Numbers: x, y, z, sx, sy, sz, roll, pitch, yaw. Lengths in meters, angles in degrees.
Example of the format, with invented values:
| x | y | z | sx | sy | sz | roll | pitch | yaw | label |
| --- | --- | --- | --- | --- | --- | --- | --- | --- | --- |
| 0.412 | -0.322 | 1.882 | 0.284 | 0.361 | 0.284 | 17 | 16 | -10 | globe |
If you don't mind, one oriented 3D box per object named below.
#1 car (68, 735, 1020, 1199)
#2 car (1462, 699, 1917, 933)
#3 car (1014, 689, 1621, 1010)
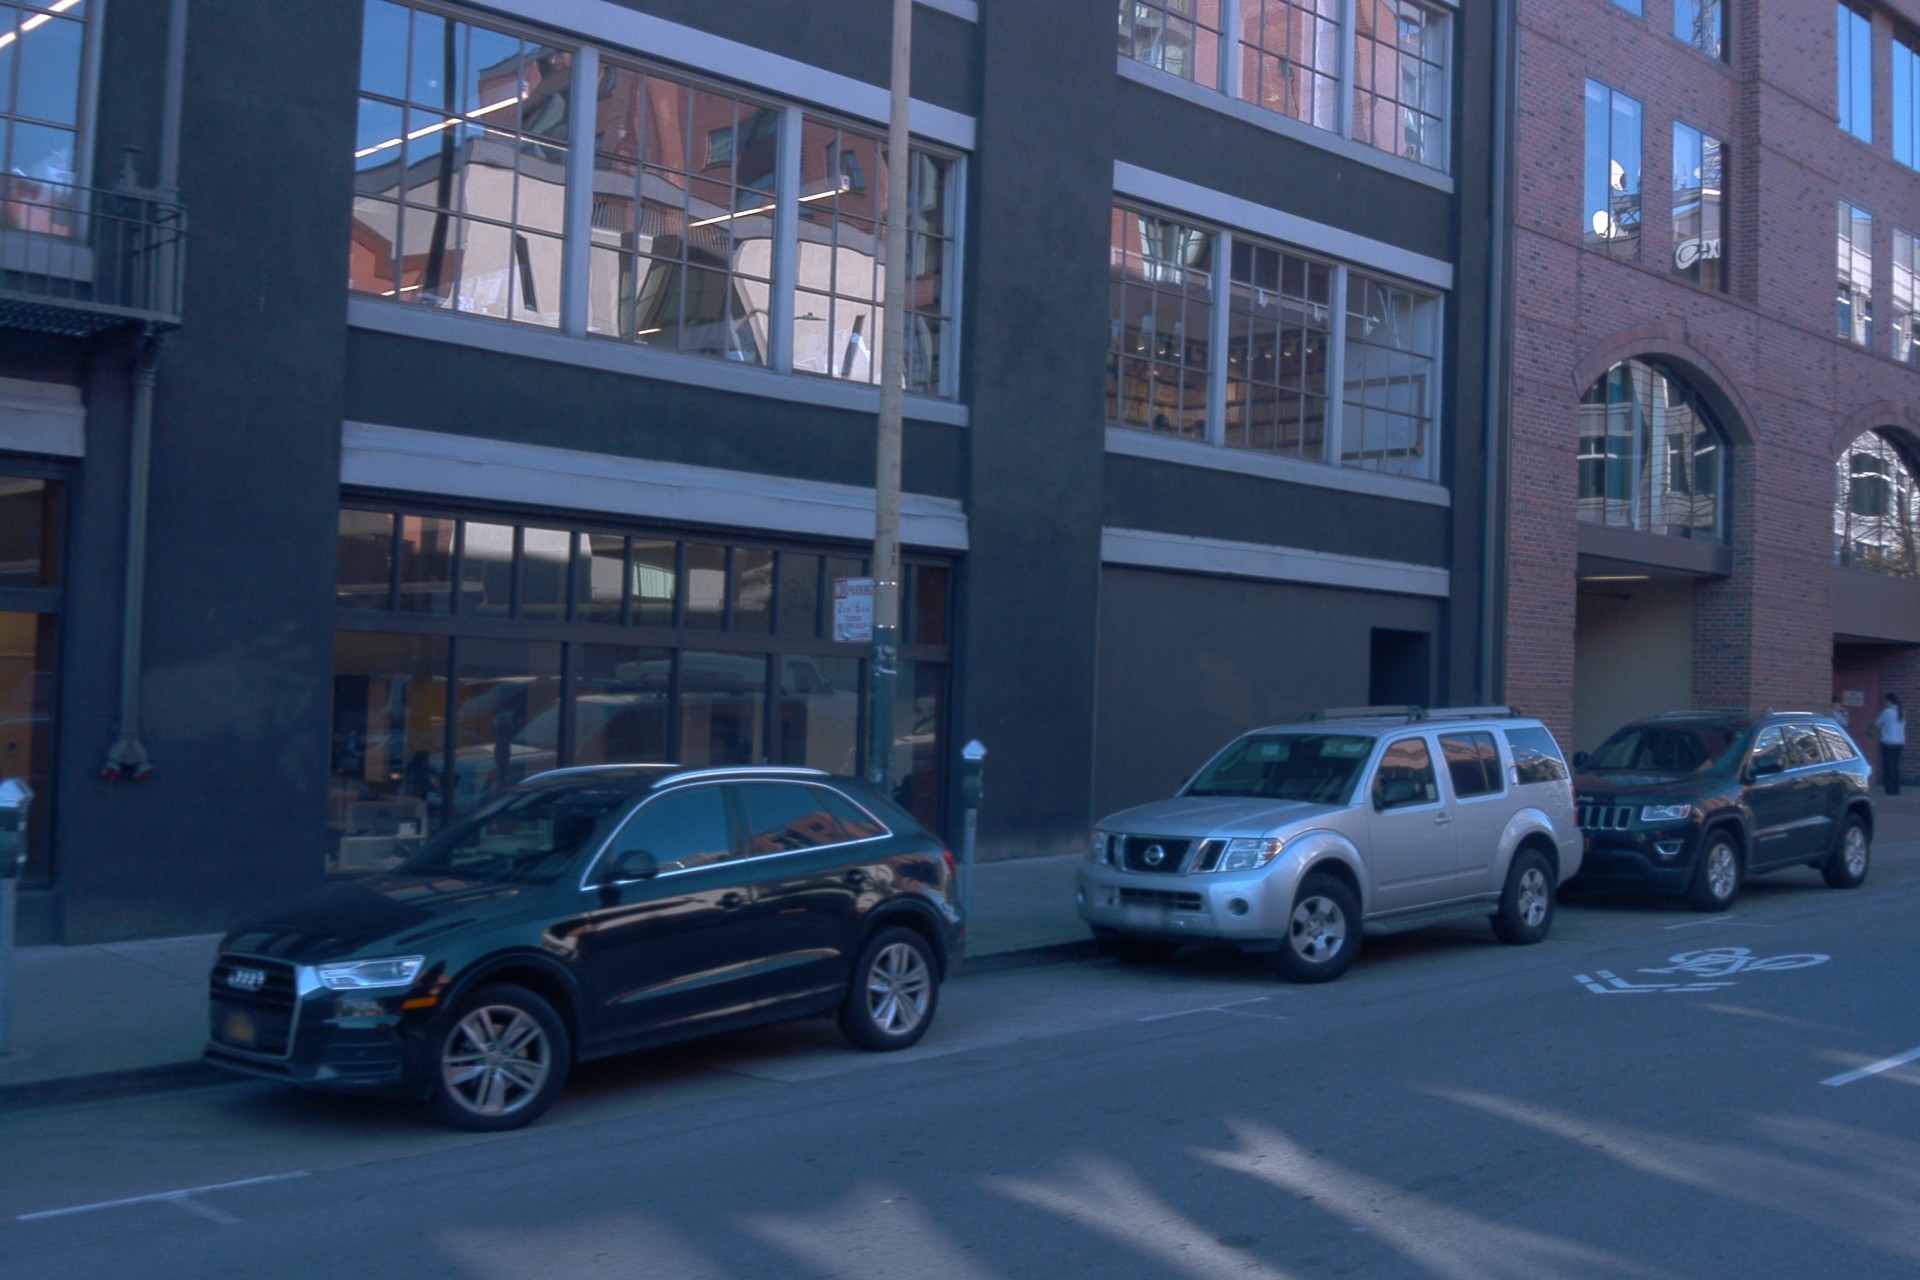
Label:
| x | y | z | sx | sy | sz | roll | pitch | yaw | label |
| --- | --- | --- | --- | --- | --- | --- | --- | --- | --- |
| -1.931 | 1.443 | 10.867 | 2.055 | 1.740 | 4.550 | 0 | -1 | 41 | car |
| 7.139 | 1.554 | 20.001 | 5.027 | 1.900 | 2.155 | 1 | -1 | -45 | car |
| 2.866 | 1.387 | 15.705 | 2.111 | 1.990 | 4.978 | 0 | -1 | 43 | car |
